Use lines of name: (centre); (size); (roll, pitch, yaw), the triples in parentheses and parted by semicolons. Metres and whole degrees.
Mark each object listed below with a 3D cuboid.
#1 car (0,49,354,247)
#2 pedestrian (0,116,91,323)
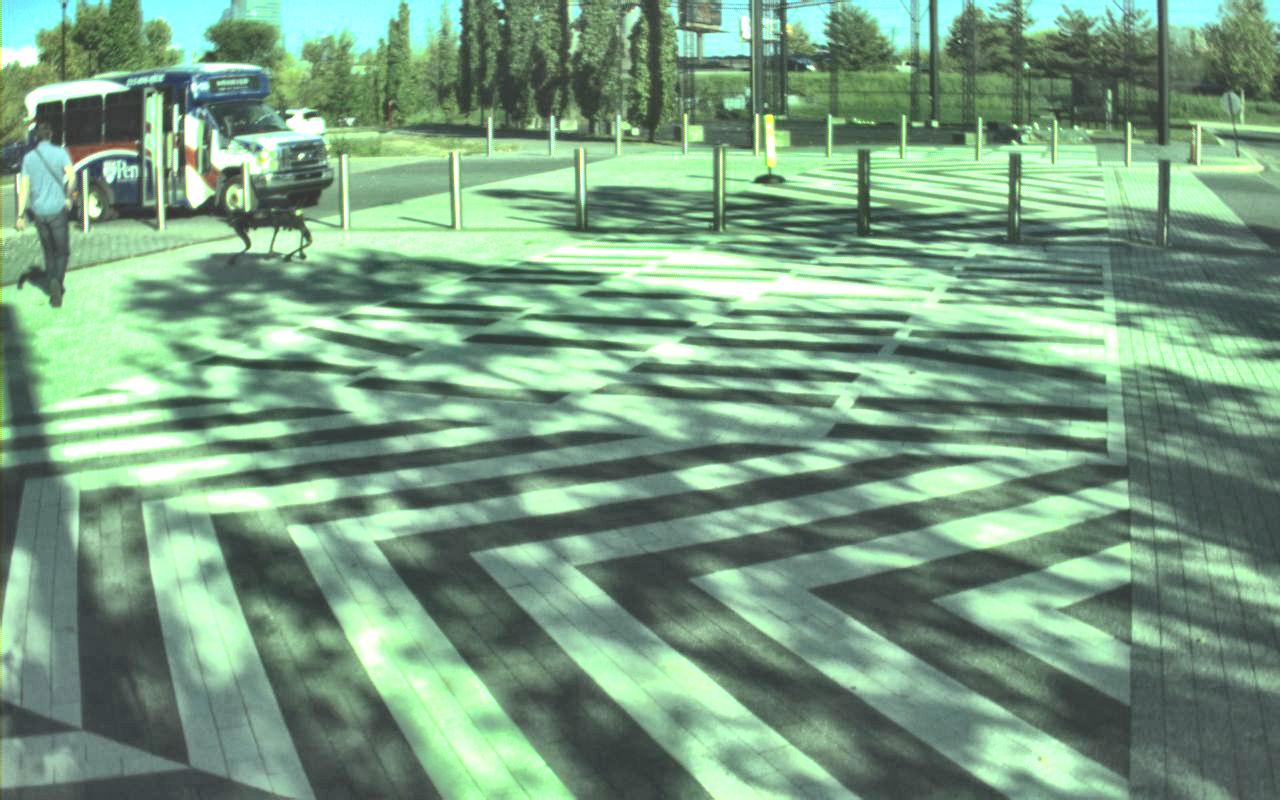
car: (-8.714, -4.541, 21.200); (6.831, 3.018, 2.687); (6, 17, 21)
pedestrian: (-5.924, -1.764, 11.066); (0.805, 1.855, 0.883); (-5, 16, -15)
